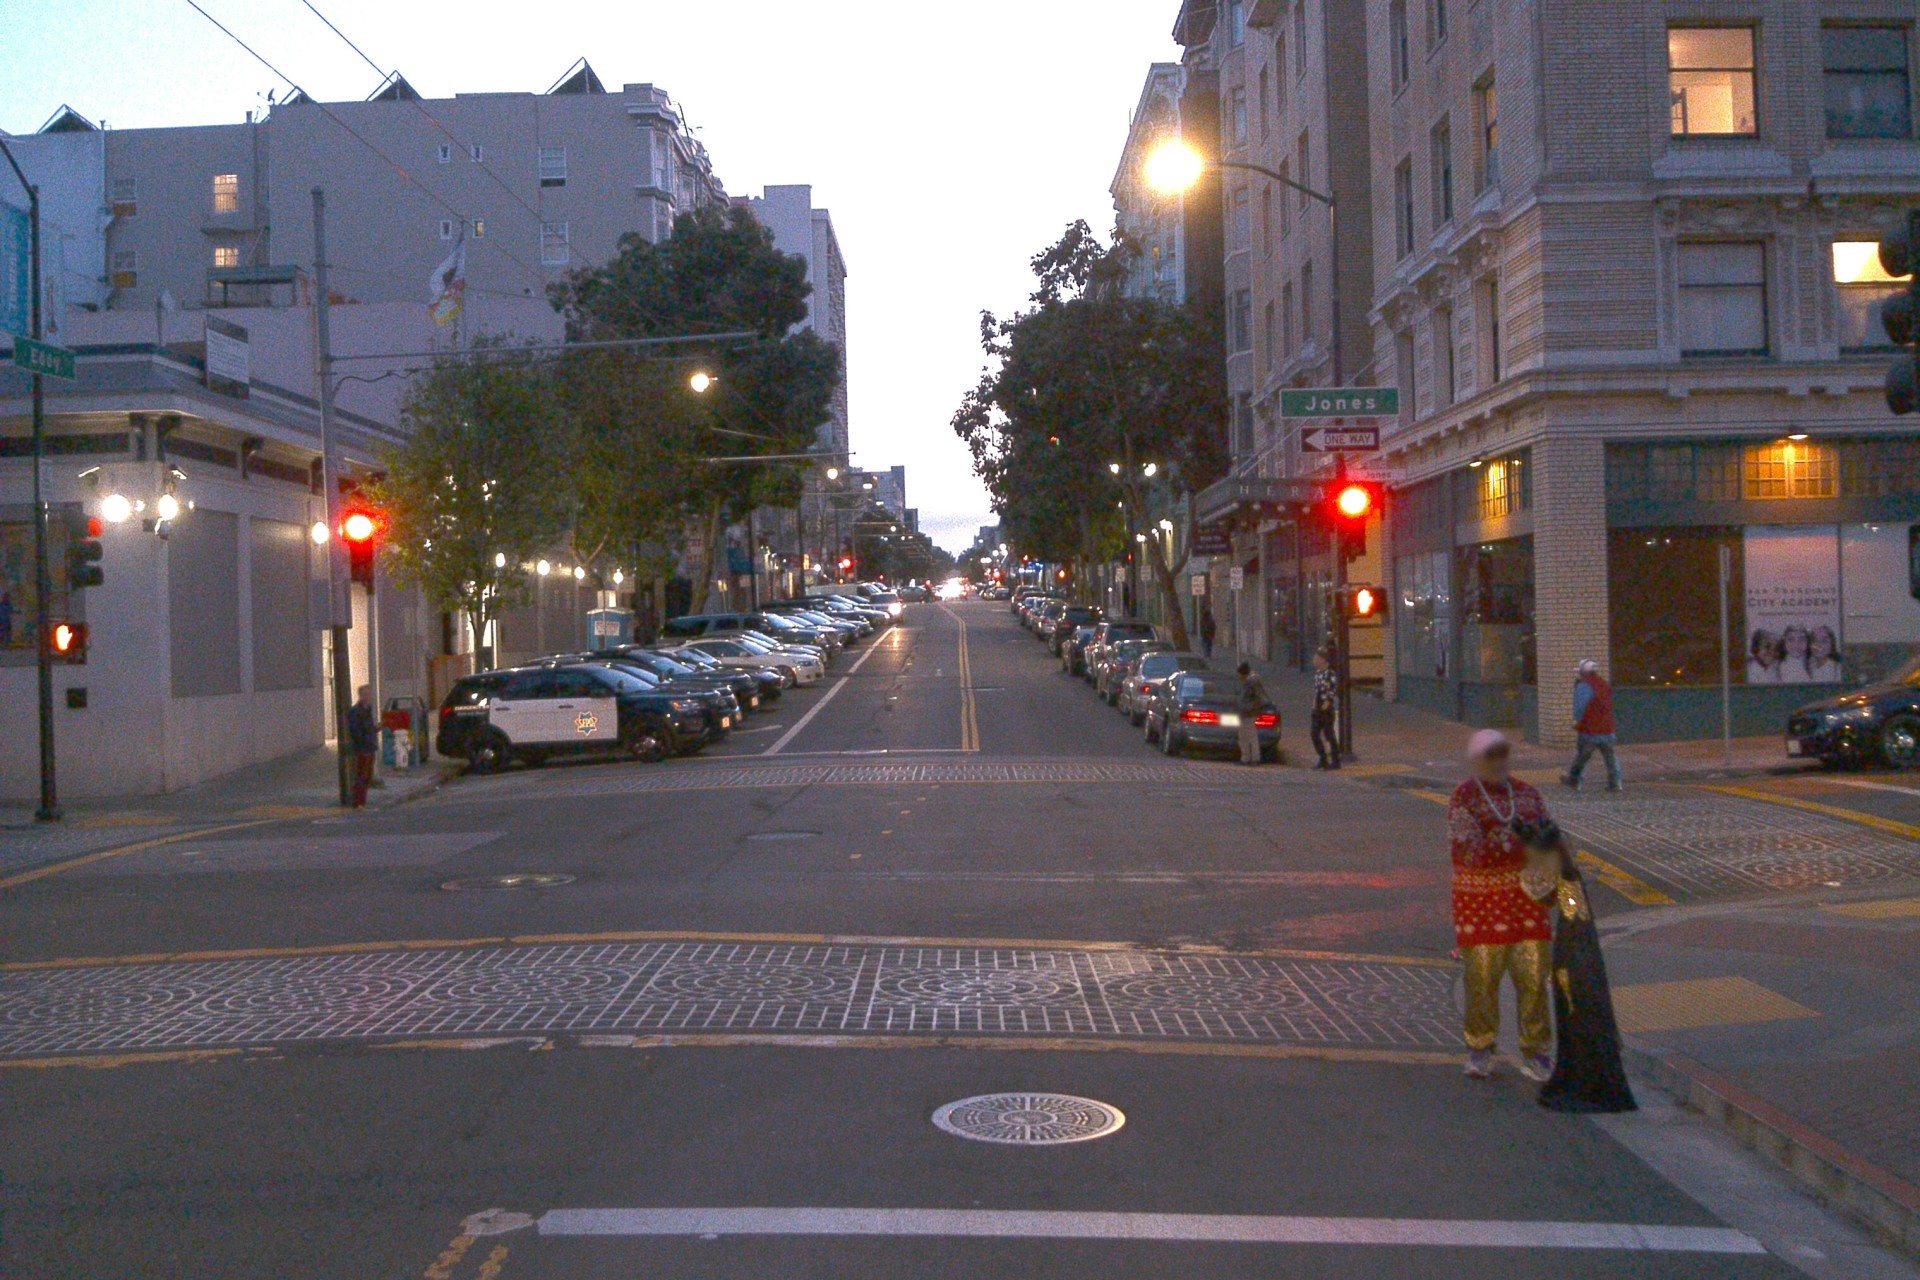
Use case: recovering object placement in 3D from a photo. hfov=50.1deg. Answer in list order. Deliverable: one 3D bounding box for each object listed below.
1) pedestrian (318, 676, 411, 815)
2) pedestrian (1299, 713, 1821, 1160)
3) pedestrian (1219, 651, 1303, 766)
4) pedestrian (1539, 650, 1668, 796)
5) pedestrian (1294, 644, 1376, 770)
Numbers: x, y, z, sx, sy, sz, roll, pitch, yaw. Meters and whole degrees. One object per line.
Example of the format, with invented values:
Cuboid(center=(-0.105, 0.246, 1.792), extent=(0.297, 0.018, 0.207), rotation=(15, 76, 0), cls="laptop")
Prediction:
Cuboid(center=(-8.466, 1.494, 29.255), extent=(1.099, 1.930, 0.689), rotation=(0, 1, 2), cls="pedestrian")
Cuboid(center=(2.600, 1.238, 9.371), extent=(1.900, 1.710, 1.968), rotation=(0, 1, 4), cls="pedestrian")
Cuboid(center=(4.607, 1.029, 31.520), extent=(0.998, 1.700, 1.002), rotation=(0, 1, -11), cls="pedestrian")
Cuboid(center=(7.368, 0.930, 23.579), extent=(0.997, 1.590, 1.003), rotation=(-1, 1, -22), cls="pedestrian")
Cuboid(center=(5.506, 0.981, 30.215), extent=(1.076, 1.820, 0.594), rotation=(0, 1, -2), cls="pedestrian")
